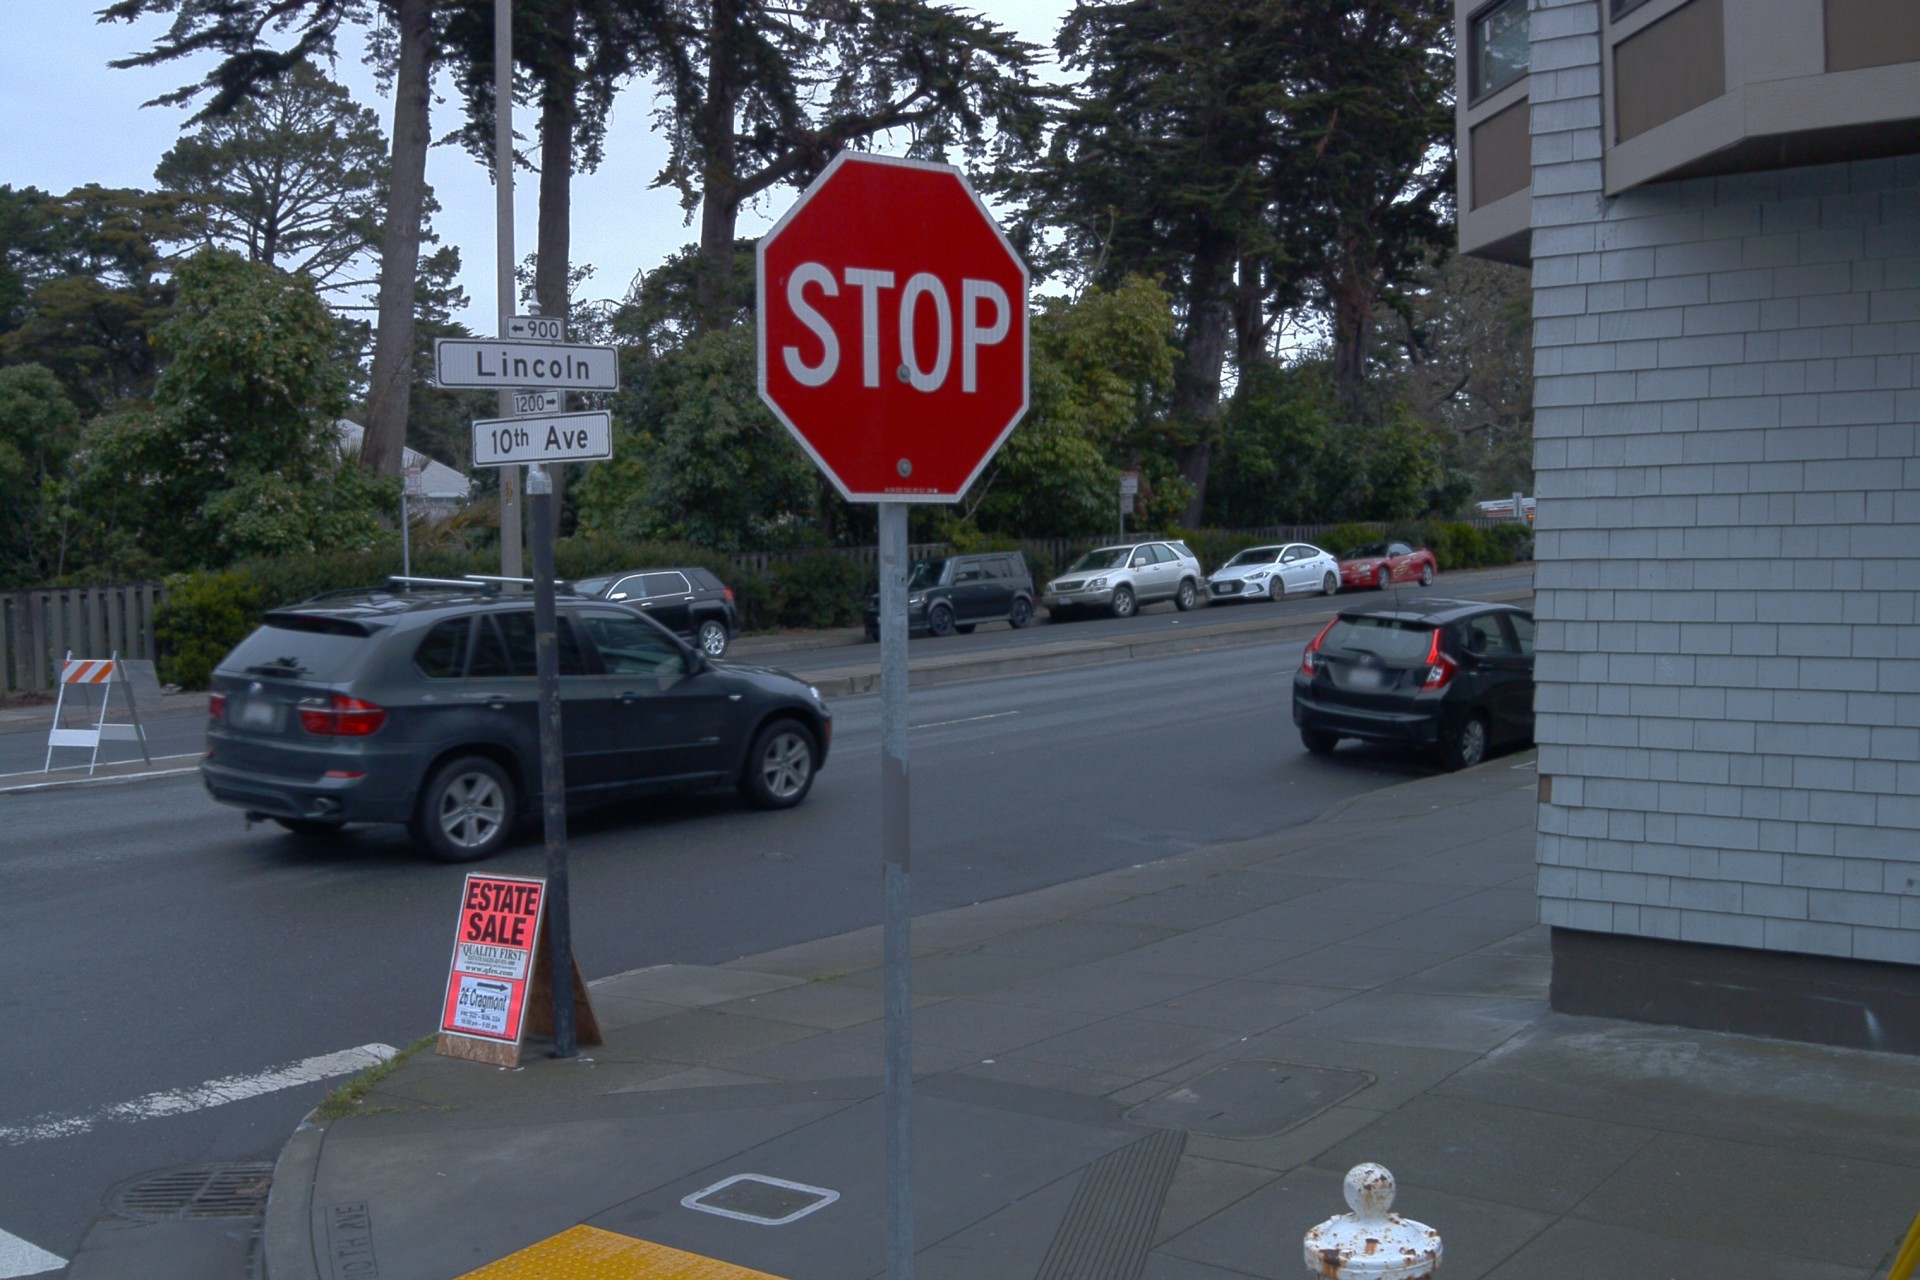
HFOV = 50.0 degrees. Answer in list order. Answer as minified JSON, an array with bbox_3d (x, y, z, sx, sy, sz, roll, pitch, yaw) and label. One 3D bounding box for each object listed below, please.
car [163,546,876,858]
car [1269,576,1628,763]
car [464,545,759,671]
[{"bbox_3d":[-3.048,0.385,15.238,2.165,1.920,4.880,0,0,39],"label":"car"},{"bbox_3d":[4.802,0.257,19.925,1.835,1.620,3.815,0,0,41],"label":"car"},{"bbox_3d":[-5.771,-0.496,34.594,1.917,1.970,4.787,0,0,40],"label":"car"}]
